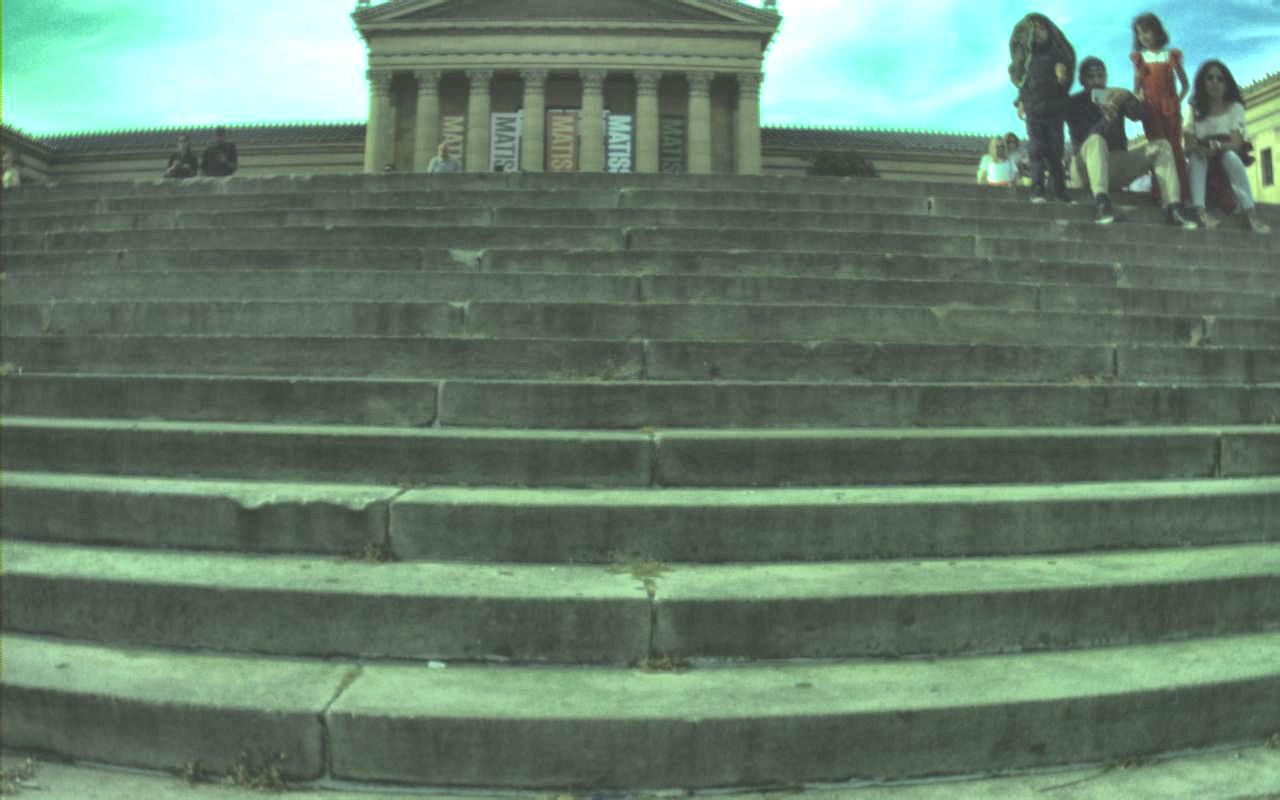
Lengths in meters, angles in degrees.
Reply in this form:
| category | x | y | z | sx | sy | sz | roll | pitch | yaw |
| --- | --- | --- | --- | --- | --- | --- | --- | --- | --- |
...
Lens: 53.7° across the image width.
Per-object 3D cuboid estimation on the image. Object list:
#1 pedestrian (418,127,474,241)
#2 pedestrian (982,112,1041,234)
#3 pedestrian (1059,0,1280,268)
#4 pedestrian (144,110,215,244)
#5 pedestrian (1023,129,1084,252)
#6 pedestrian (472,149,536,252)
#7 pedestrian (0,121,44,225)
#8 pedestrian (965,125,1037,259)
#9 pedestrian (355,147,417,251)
| category | x | y | z | sx | sy | sz | roll | pitch | yaw |
| --- | --- | --- | --- | --- | --- | --- | --- | --- | --- |
| pedestrian | -3.254 | -3.588 | 20.706 | 0.717 | 1.809 | 0.700 | 0 | 0 | -27 |
| pedestrian | 5.600 | -3.401 | 18.253 | 0.655 | 1.747 | 0.642 | 0 | 0 | -8 |
| pedestrian | 3.119 | -1.565 | 6.758 | 1.186 | 1.535 | 0.804 | 1 | 0 | 8 |
| pedestrian | -6.565 | -3.133 | 16.731 | 0.796 | 1.809 | 0.791 | 0 | 0 | -7 |
| pedestrian | 6.208 | -3.113 | 18.038 | 0.723 | 1.747 | 0.749 | 0 | 0 | 2 |
| pedestrian | -2.479 | -3.598 | 22.684 | 0.797 | 1.746 | 0.812 | 1 | 0 | 34 |
| pedestrian | -11.451 | -4.079 | 20.294 | 0.665 | 1.823 | 0.673 | 0 | 0 | 7 |
| pedestrian | 5.045 | -2.884 | 17.026 | 0.838 | 1.774 | 0.834 | 0 | 0 | 4 |
| pedestrian | -4.527 | -3.551 | 21.923 | 0.807 | 1.748 | 0.799 | 0 | 0 | 14 |
